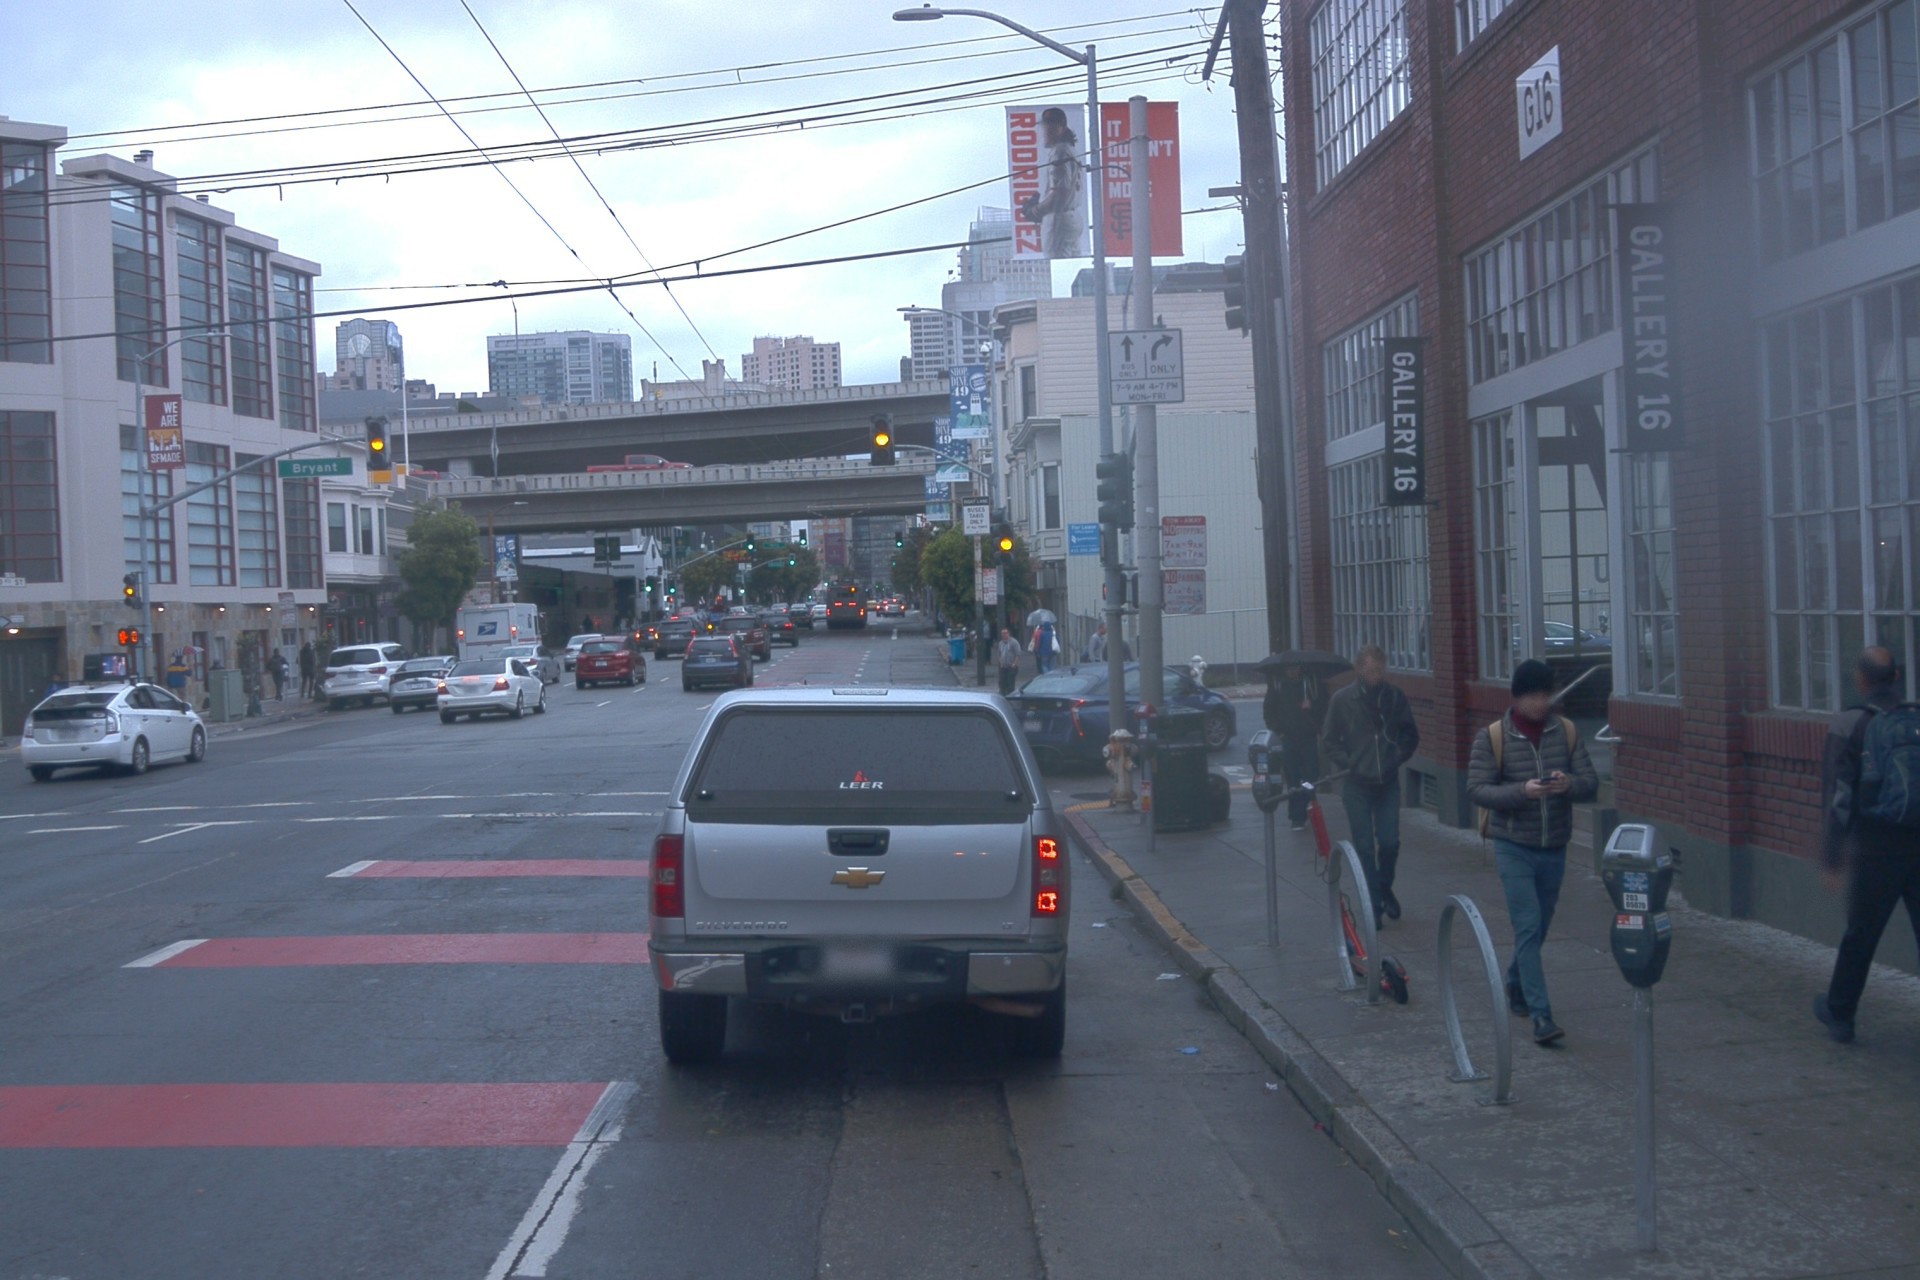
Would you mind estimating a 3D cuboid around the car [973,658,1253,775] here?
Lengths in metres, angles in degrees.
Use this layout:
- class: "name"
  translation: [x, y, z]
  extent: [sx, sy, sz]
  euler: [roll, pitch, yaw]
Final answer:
- class: "car"
  translation: [2.300, 1.059, 30.130]
  extent: [1.889, 1.560, 4.377]
  euler: [-1, -1, 39]

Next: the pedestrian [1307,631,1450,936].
- class: "pedestrian"
  translation: [2.652, 0.887, 13.222]
  extent: [0.749, 1.870, 0.954]
  euler: [0, -1, 2]

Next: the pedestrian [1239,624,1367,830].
- class: "pedestrian"
  translation: [3.181, 0.795, 19.335]
  extent: [1.016, 1.870, 1.039]
  euler: [0, -1, 0]

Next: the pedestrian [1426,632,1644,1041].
- class: "pedestrian"
  translation: [2.667, 0.881, 9.702]
  extent: [0.763, 1.820, 0.914]
  euler: [0, -1, 1]

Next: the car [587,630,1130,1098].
- class: "car"
  translation: [-0.492, 1.033, 12.008]
  extent: [2.411, 2.070, 5.547]
  euler: [0, -1, -1]
